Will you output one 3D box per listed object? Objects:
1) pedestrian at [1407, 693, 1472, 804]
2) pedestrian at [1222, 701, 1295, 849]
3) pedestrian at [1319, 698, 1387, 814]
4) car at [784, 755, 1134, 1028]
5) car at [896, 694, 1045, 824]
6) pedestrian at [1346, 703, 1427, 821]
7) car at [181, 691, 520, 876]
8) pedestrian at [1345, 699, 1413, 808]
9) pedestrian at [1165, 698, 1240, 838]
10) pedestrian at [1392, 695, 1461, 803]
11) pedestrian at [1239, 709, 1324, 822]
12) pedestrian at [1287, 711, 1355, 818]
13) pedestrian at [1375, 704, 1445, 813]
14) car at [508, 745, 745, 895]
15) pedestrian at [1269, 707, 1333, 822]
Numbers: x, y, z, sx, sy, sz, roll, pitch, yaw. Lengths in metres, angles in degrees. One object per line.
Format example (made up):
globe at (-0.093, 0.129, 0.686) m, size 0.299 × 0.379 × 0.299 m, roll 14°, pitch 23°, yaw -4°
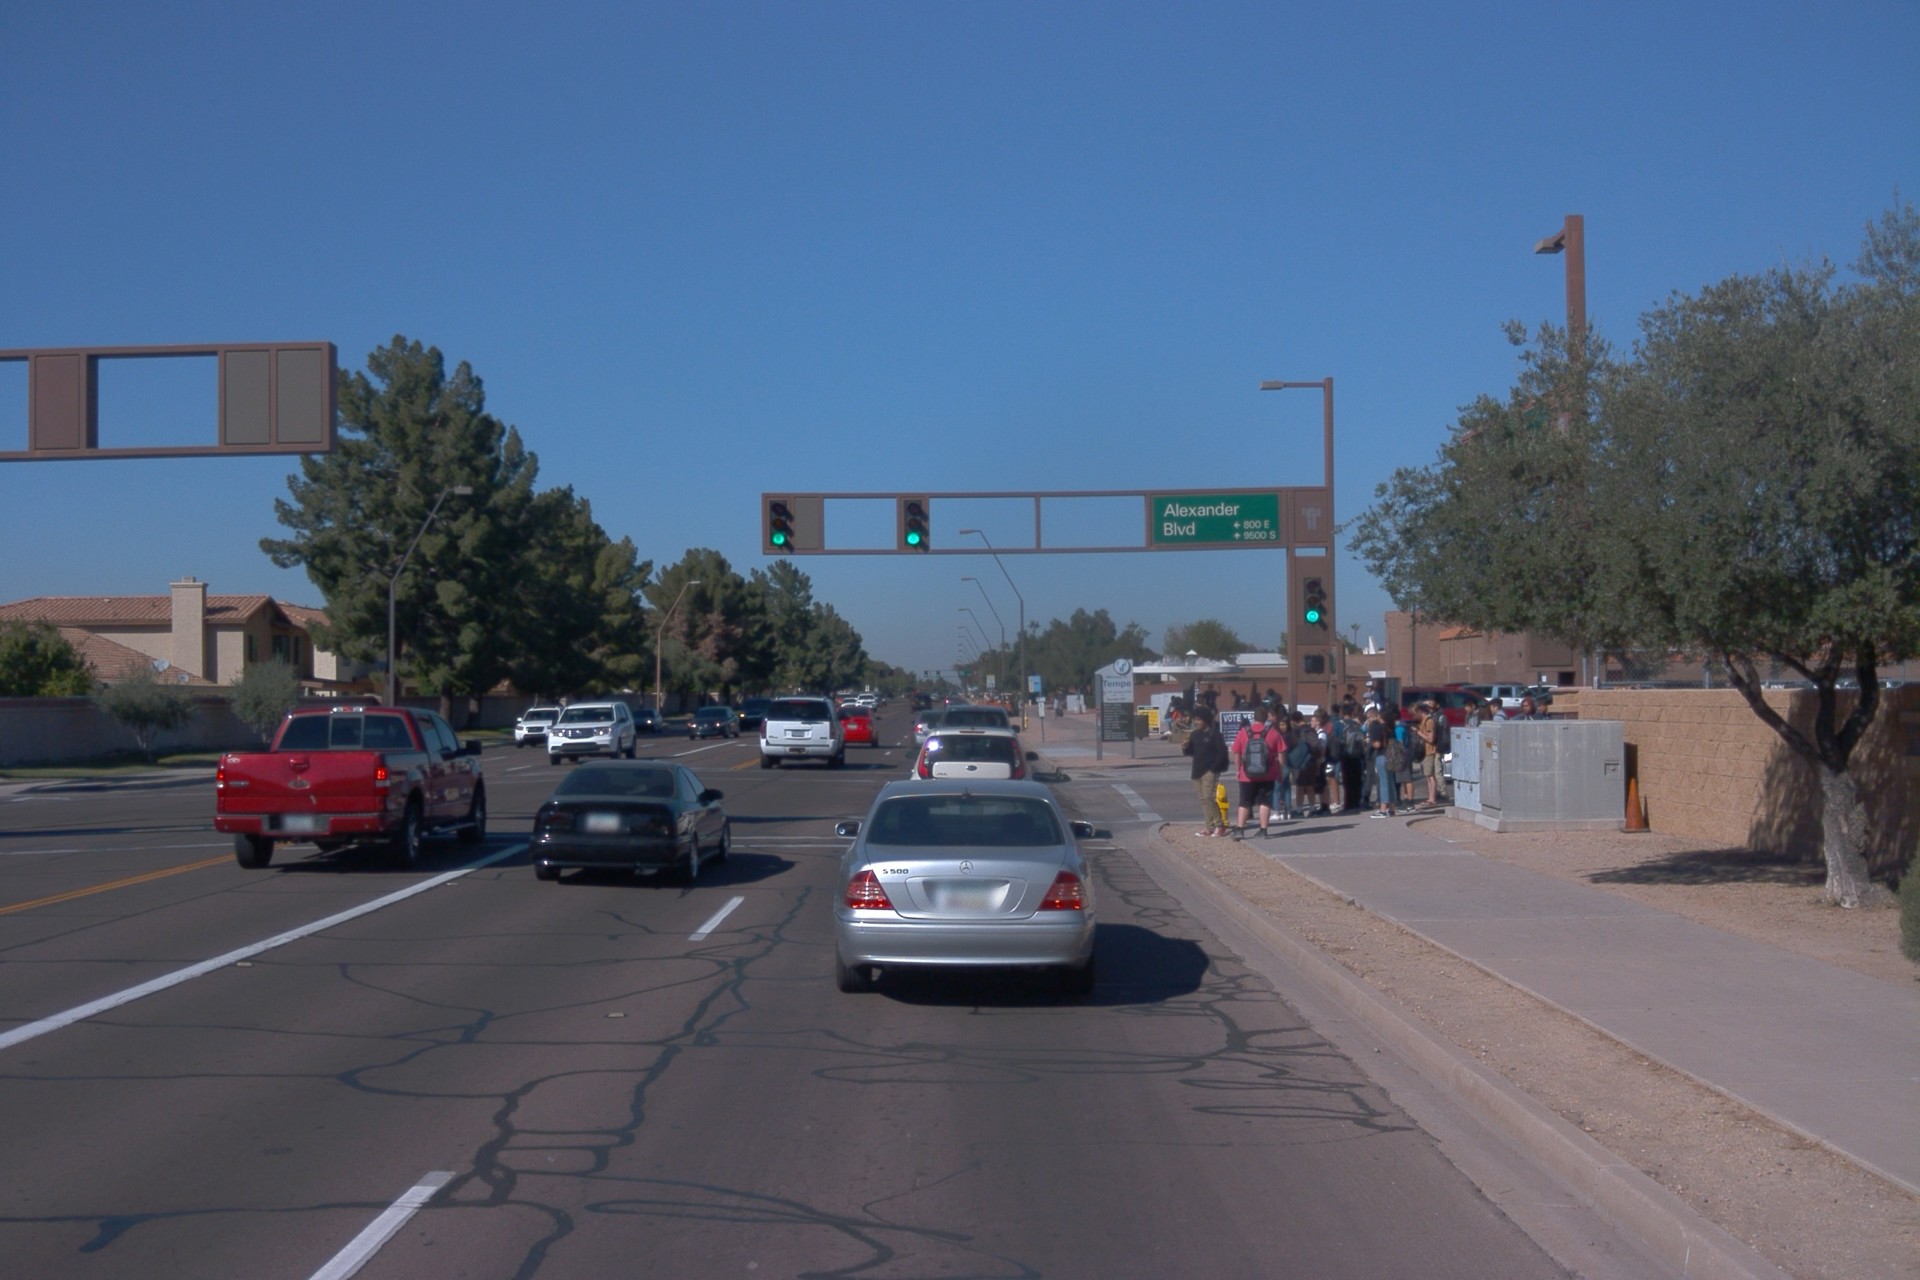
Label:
pedestrian at (8.027, 1.812, 34.830) m, size 0.817 × 1.830 × 0.731 m, roll 0°, pitch -1°, yaw -16°
pedestrian at (3.967, 1.770, 27.569) m, size 0.877 × 1.910 × 0.878 m, roll 0°, pitch -1°, yaw 13°
pedestrian at (6.247, 1.838, 33.118) m, size 0.887 × 1.820 × 0.860 m, roll 0°, pitch -1°, yaw -3°
car at (0.010, 1.756, 15.758) m, size 2.265 × 1.600 × 4.514 m, roll 0°, pitch -1°, yaw 0°
car at (0.190, 1.697, 30.884) m, size 2.056 × 1.760 × 4.487 m, roll 0°, pitch -1°, yaw 1°
pedestrian at (6.370, 1.800, 31.031) m, size 0.844 × 1.710 × 0.856 m, roll 1°, pitch -1°, yaw -44°
car at (-7.262, 1.638, 25.598) m, size 2.581 × 1.980 × 5.796 m, roll 0°, pitch -1°, yaw -1°
pedestrian at (6.772, 1.825, 33.654) m, size 0.887 × 1.730 × 0.860 m, roll 0°, pitch -1°, yaw -3°
pedestrian at (3.367, 1.756, 28.828) m, size 0.822 × 1.890 × 0.887 m, roll 0°, pitch -1°, yaw 23°
pedestrian at (7.609, 1.765, 33.951) m, size 0.887 × 1.730 × 0.860 m, roll 0°, pitch -1°, yaw -3°
pedestrian at (4.887, 1.890, 31.584) m, size 1.032 × 1.670 × 0.874 m, roll 0°, pitch -1°, yaw 29°
pedestrian at (5.677, 1.948, 32.707) m, size 0.887 × 1.650 × 0.860 m, roll 0°, pitch -1°, yaw -3°
pedestrian at (7.050, 1.853, 32.623) m, size 0.887 × 1.680 × 0.860 m, roll 0°, pitch -1°, yaw -3°
car at (-3.671, 1.970, 23.670) m, size 1.915 × 1.410 × 4.397 m, roll 0°, pitch -1°, yaw 1°
pedestrian at (5.286, 1.922, 32.286) m, size 0.860 × 1.750 × 0.887 m, roll 0°, pitch -1°, yaw 0°
